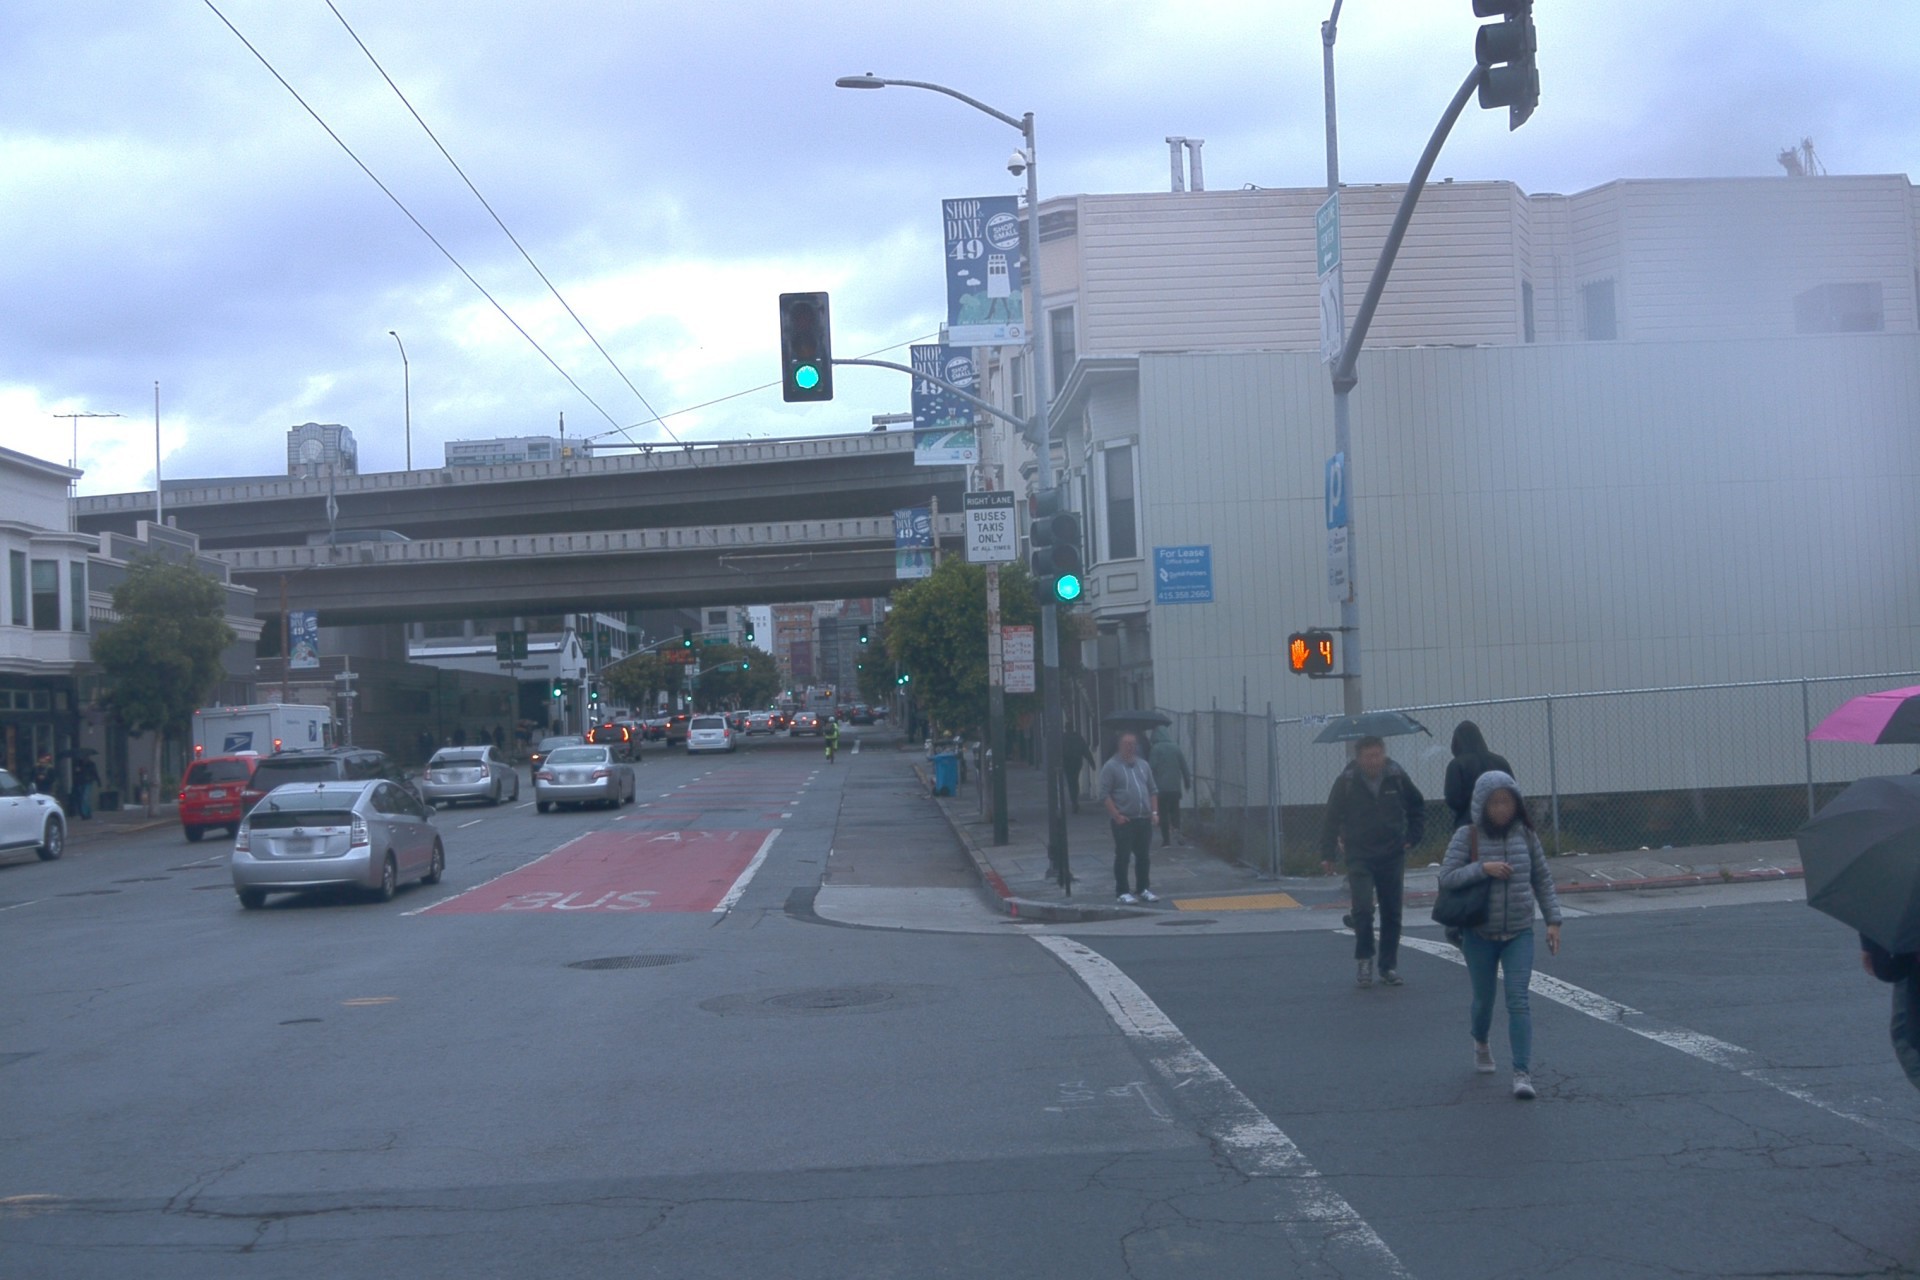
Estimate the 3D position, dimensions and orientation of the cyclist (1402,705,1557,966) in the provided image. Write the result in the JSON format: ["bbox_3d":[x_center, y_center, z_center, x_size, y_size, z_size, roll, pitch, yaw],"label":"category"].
[{"bbox_3d":[3.747,1.379,15.035,0.779,1.800,1.139,0,-1,-4],"label":"cyclist"}]

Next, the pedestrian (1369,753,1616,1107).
[{"bbox_3d":[2.520,1.344,9.944,1.000,1.560,1.000,0,-1,6],"label":"pedestrian"}]

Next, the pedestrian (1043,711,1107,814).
[{"bbox_3d":[2.048,2.177,37.080,1.011,1.790,1.088,0,-1,-4],"label":"pedestrian"}]

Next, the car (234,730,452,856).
[{"bbox_3d":[-10.658,2.601,36.280,2.248,1.880,5.095,0,-1,1],"label":"car"}]

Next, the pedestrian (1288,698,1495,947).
[{"bbox_3d":[3.603,1.486,17.487,1.351,1.976,1.599,0,-1,-2],"label":"pedestrian"}]

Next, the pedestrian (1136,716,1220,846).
[{"bbox_3d":[2.926,1.885,27.945,0.989,1.692,1.085,0,-1,-2],"label":"pedestrian"}]

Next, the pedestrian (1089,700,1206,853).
[{"bbox_3d":[2.526,1.822,28.178,1.409,1.988,1.526,0,-1,-2],"label":"pedestrian"}]

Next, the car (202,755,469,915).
[{"bbox_3d":[-7.727,2.370,26.149,2.150,1.640,4.541,0,-1,-2],"label":"car"}]

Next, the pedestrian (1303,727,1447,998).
[{"bbox_3d":[2.708,1.427,13.631,0.809,1.680,1.024,0,-1,5],"label":"pedestrian"}]

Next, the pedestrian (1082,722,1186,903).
[{"bbox_3d":[1.827,1.802,21.883,0.843,1.837,0.755,0,-1,-21],"label":"pedestrian"}]
